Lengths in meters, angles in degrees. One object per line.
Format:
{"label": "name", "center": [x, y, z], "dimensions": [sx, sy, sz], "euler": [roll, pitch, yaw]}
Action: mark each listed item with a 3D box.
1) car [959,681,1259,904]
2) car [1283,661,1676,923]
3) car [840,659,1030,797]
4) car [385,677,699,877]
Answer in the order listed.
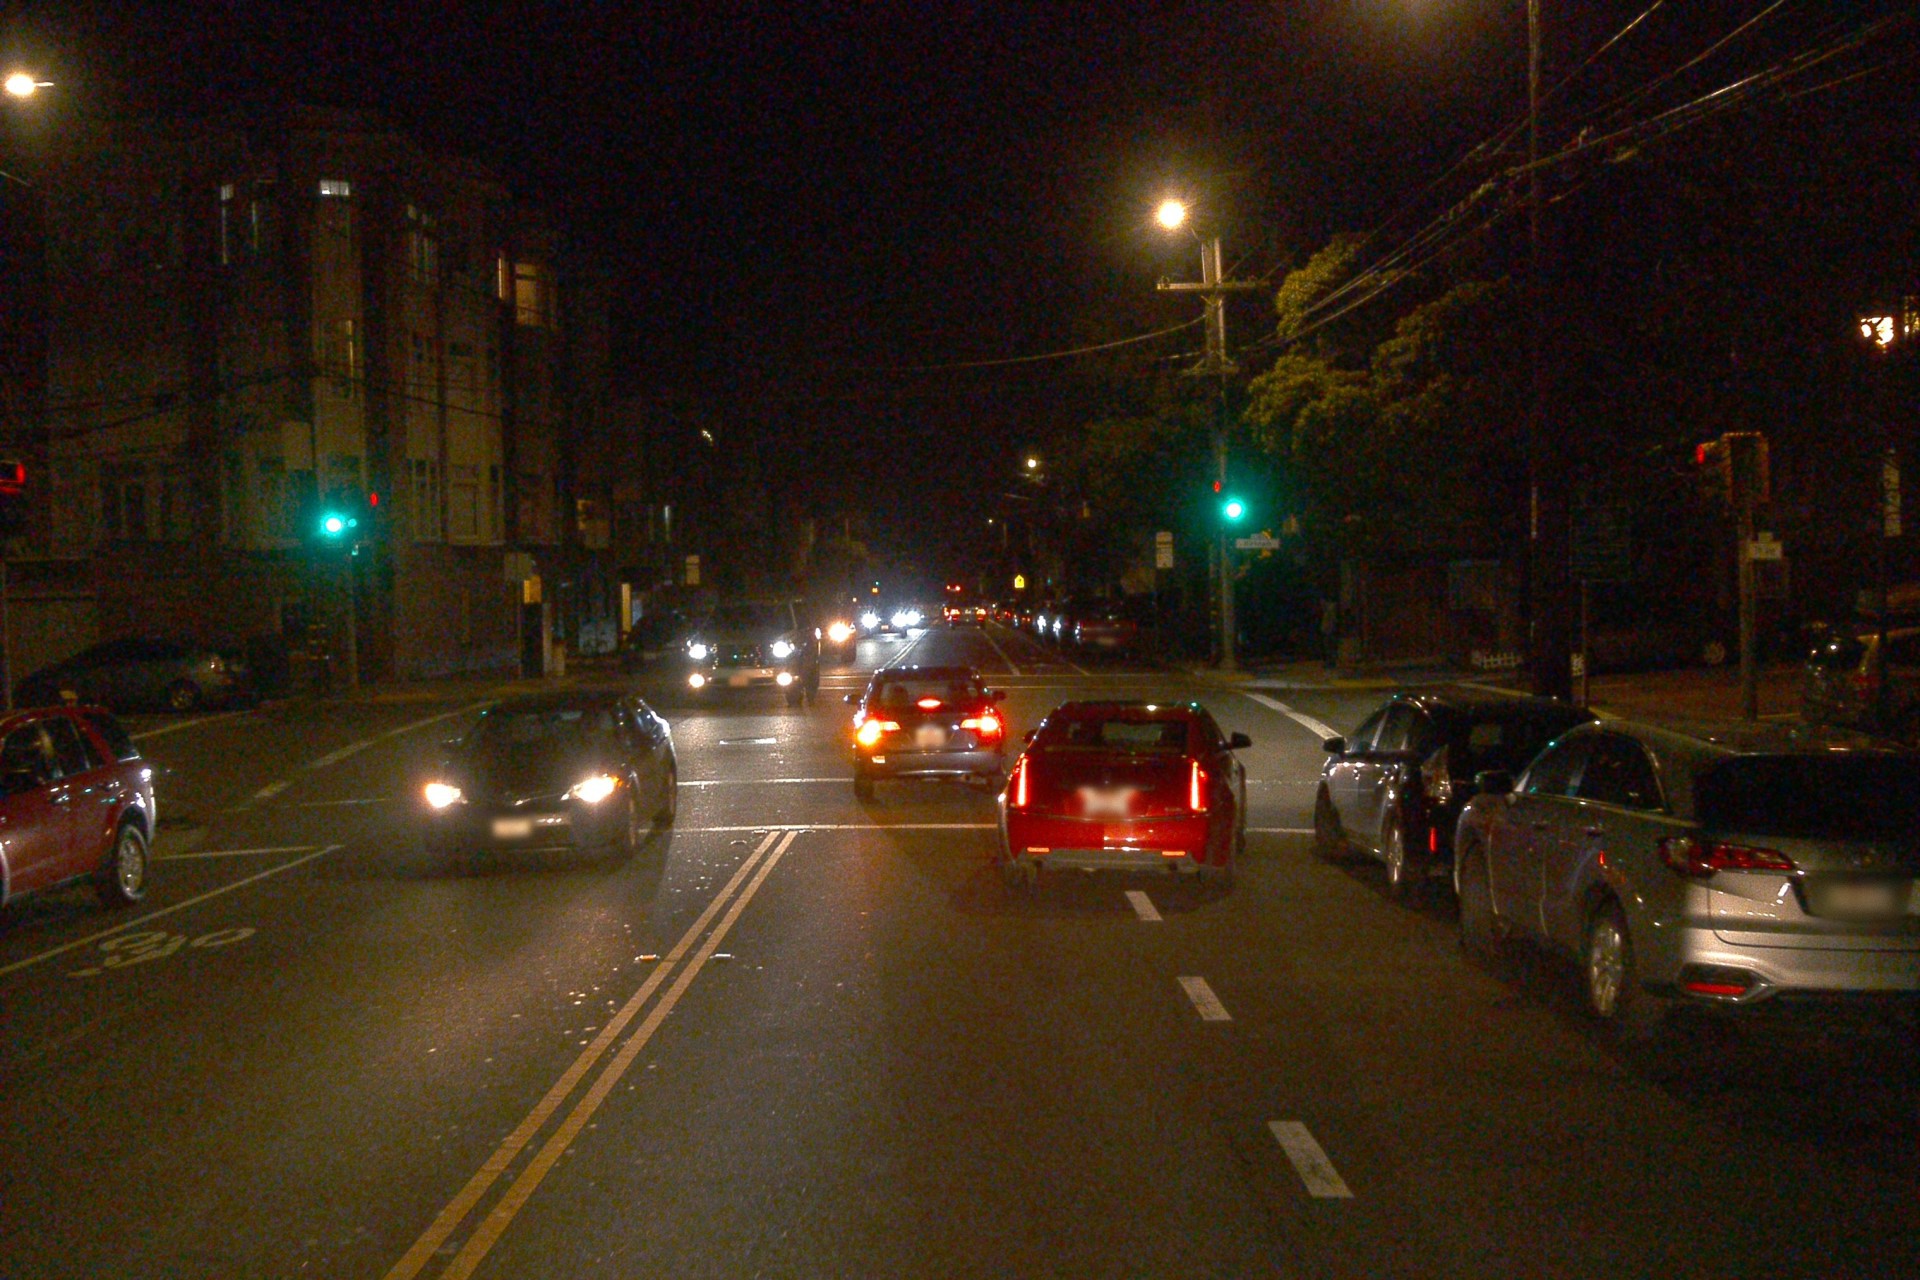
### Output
{"label": "car", "center": [1.404, 1.159, 17.264], "dimensions": [2.069, 1.490, 4.414], "euler": [1, 0, 10]}
{"label": "car", "center": [4.174, 1.140, 17.288], "dimensions": [2.084, 1.830, 4.587], "euler": [1, 0, -1]}
{"label": "car", "center": [-0.372, 0.986, 24.674], "dimensions": [2.070, 1.420, 4.589], "euler": [0, 0, -2]}
{"label": "car", "center": [-3.850, 1.208, 19.718], "dimensions": [2.084, 1.570, 4.662], "euler": [1, 0, 0]}
